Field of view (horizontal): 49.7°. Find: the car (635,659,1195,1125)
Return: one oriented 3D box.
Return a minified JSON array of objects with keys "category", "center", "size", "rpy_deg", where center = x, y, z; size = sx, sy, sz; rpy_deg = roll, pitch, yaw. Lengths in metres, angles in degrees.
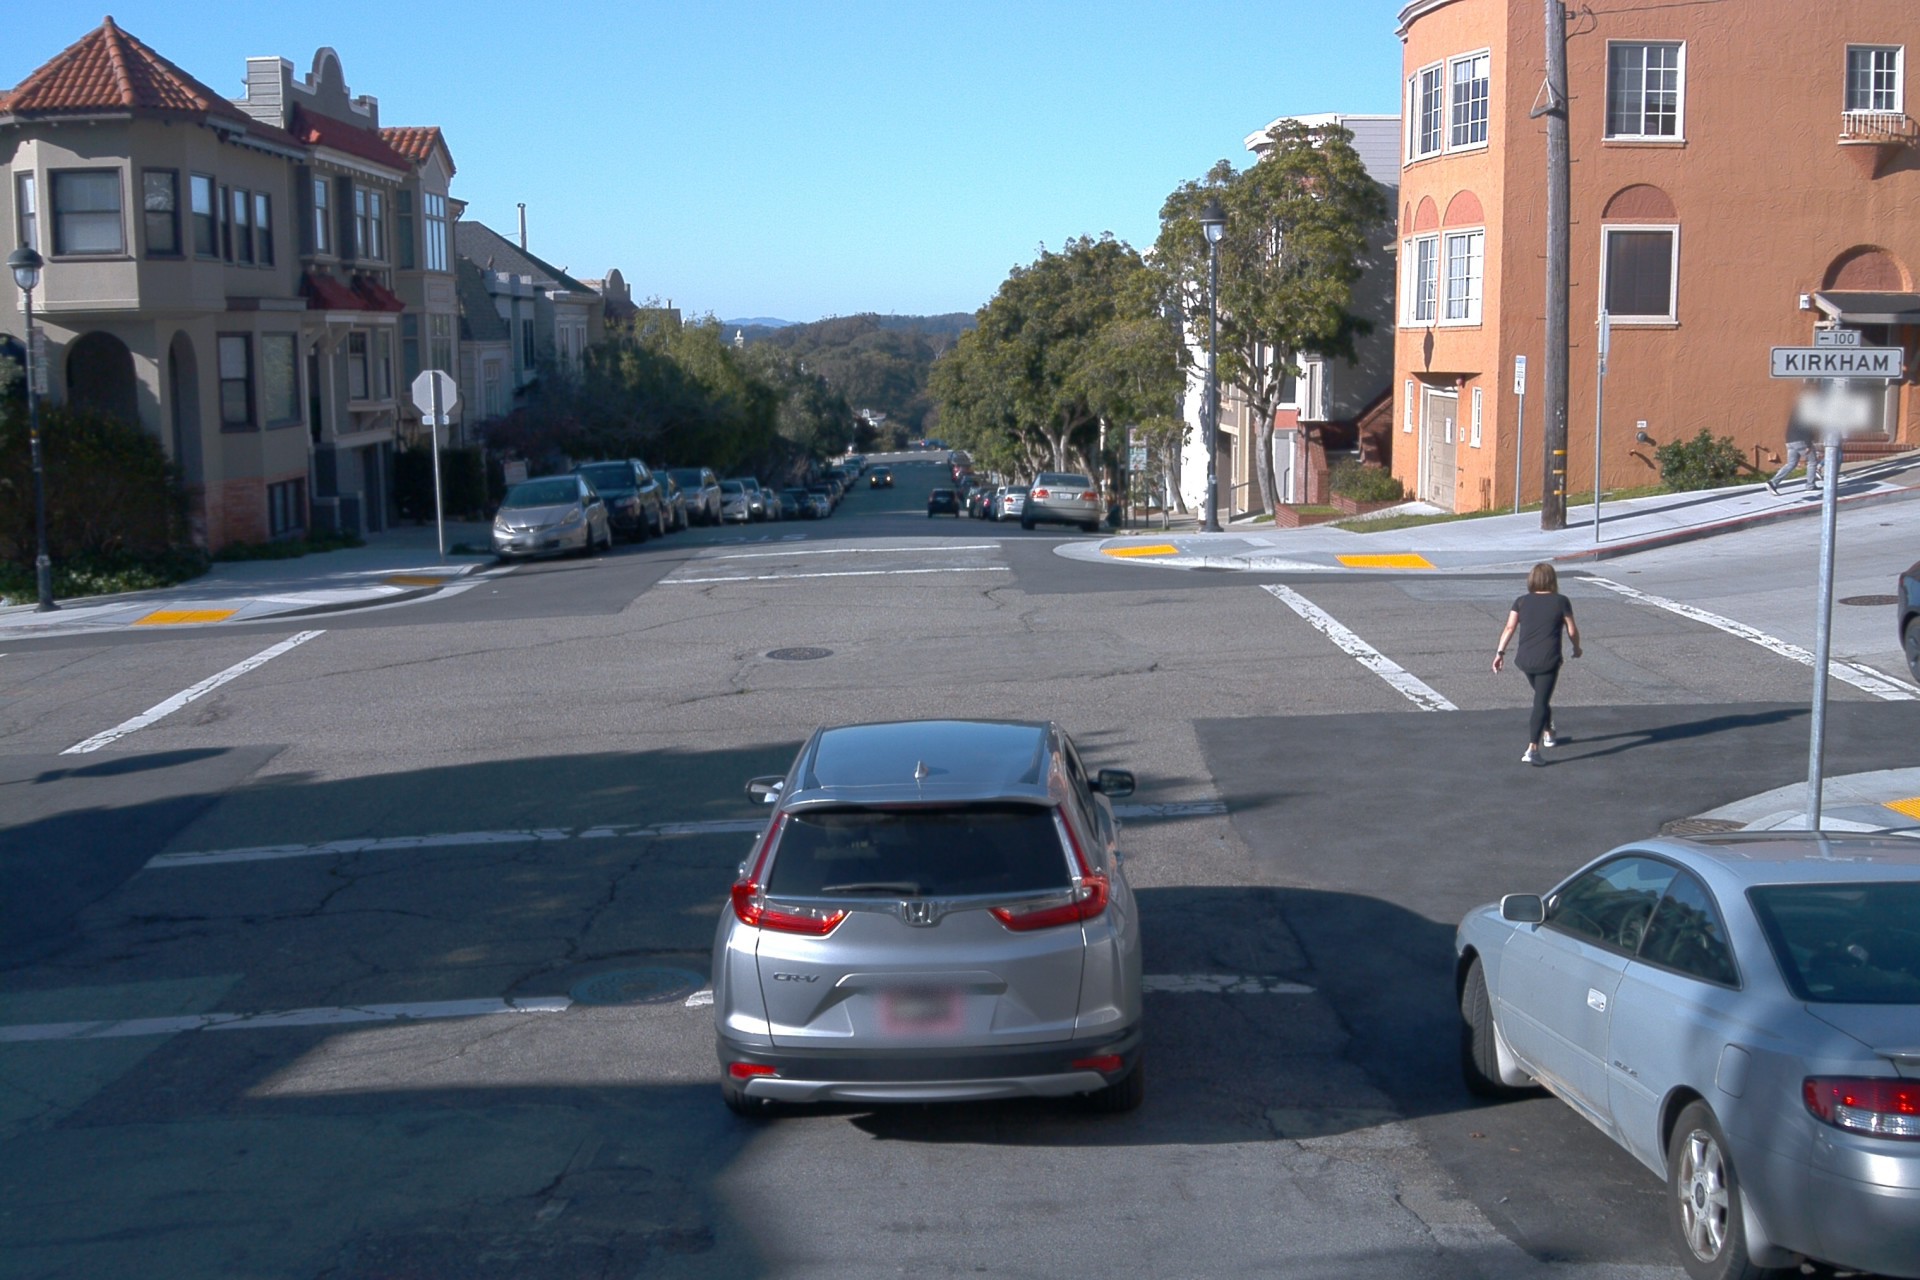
[{"category":"car","center":[-0.183,1.009,10.457],"size":[2.191,1.800,4.695],"rpy_deg":[0,0,0]}]

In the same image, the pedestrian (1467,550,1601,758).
[{"category":"pedestrian","center":[4.672,0.112,16.823],"size":[0.731,1.620,1.128],"rpy_deg":[0,0,34]}]
